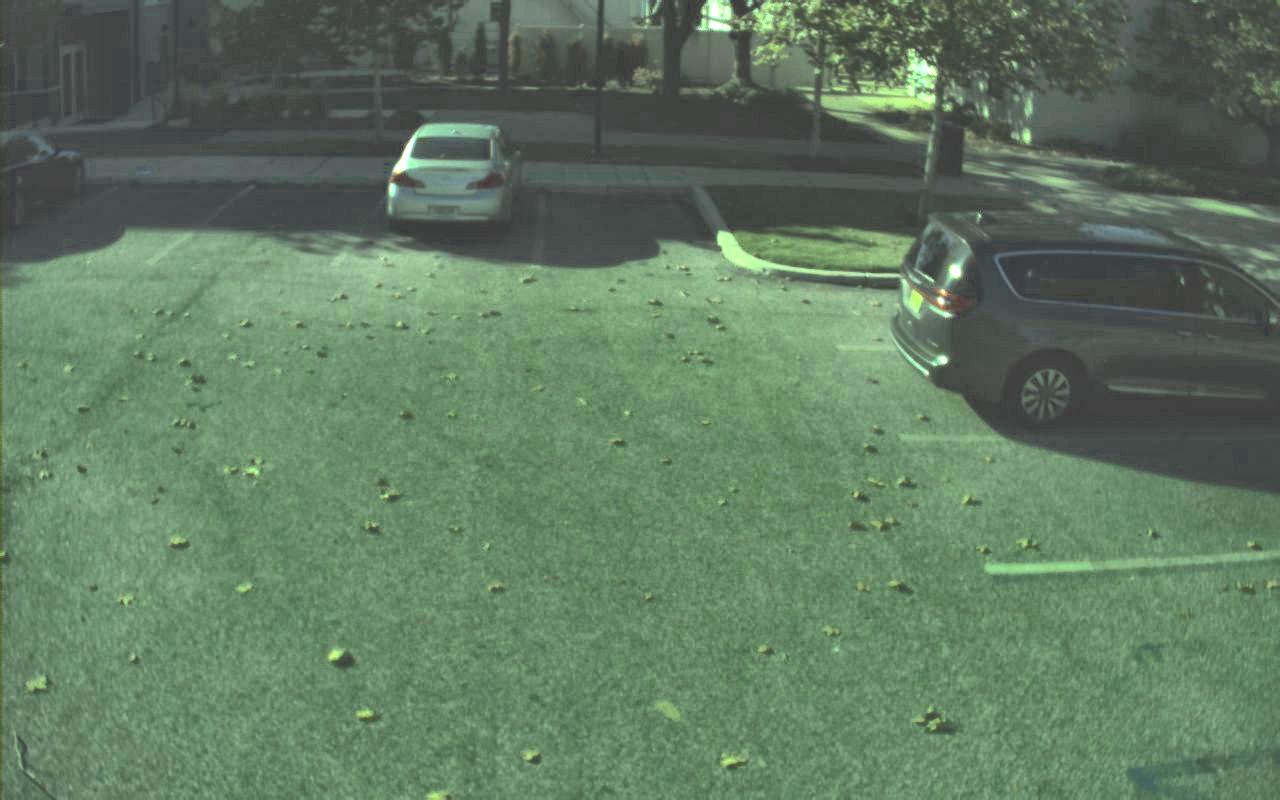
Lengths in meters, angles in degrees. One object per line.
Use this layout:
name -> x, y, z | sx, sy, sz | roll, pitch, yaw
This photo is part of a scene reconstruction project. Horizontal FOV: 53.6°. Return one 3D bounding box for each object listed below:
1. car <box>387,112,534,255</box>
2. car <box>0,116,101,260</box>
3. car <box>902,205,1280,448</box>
car -> -2.586, -3.352, 18.599 | 1.907, 1.551, 4.388 | -2, 17, -5
car -> -10.457, -3.517, 18.117 | 1.978, 1.596, 4.578 | -3, 17, -5
car -> 5.103, -0.815, 11.349 | 4.918, 1.776, 2.065 | -2, 16, -3
